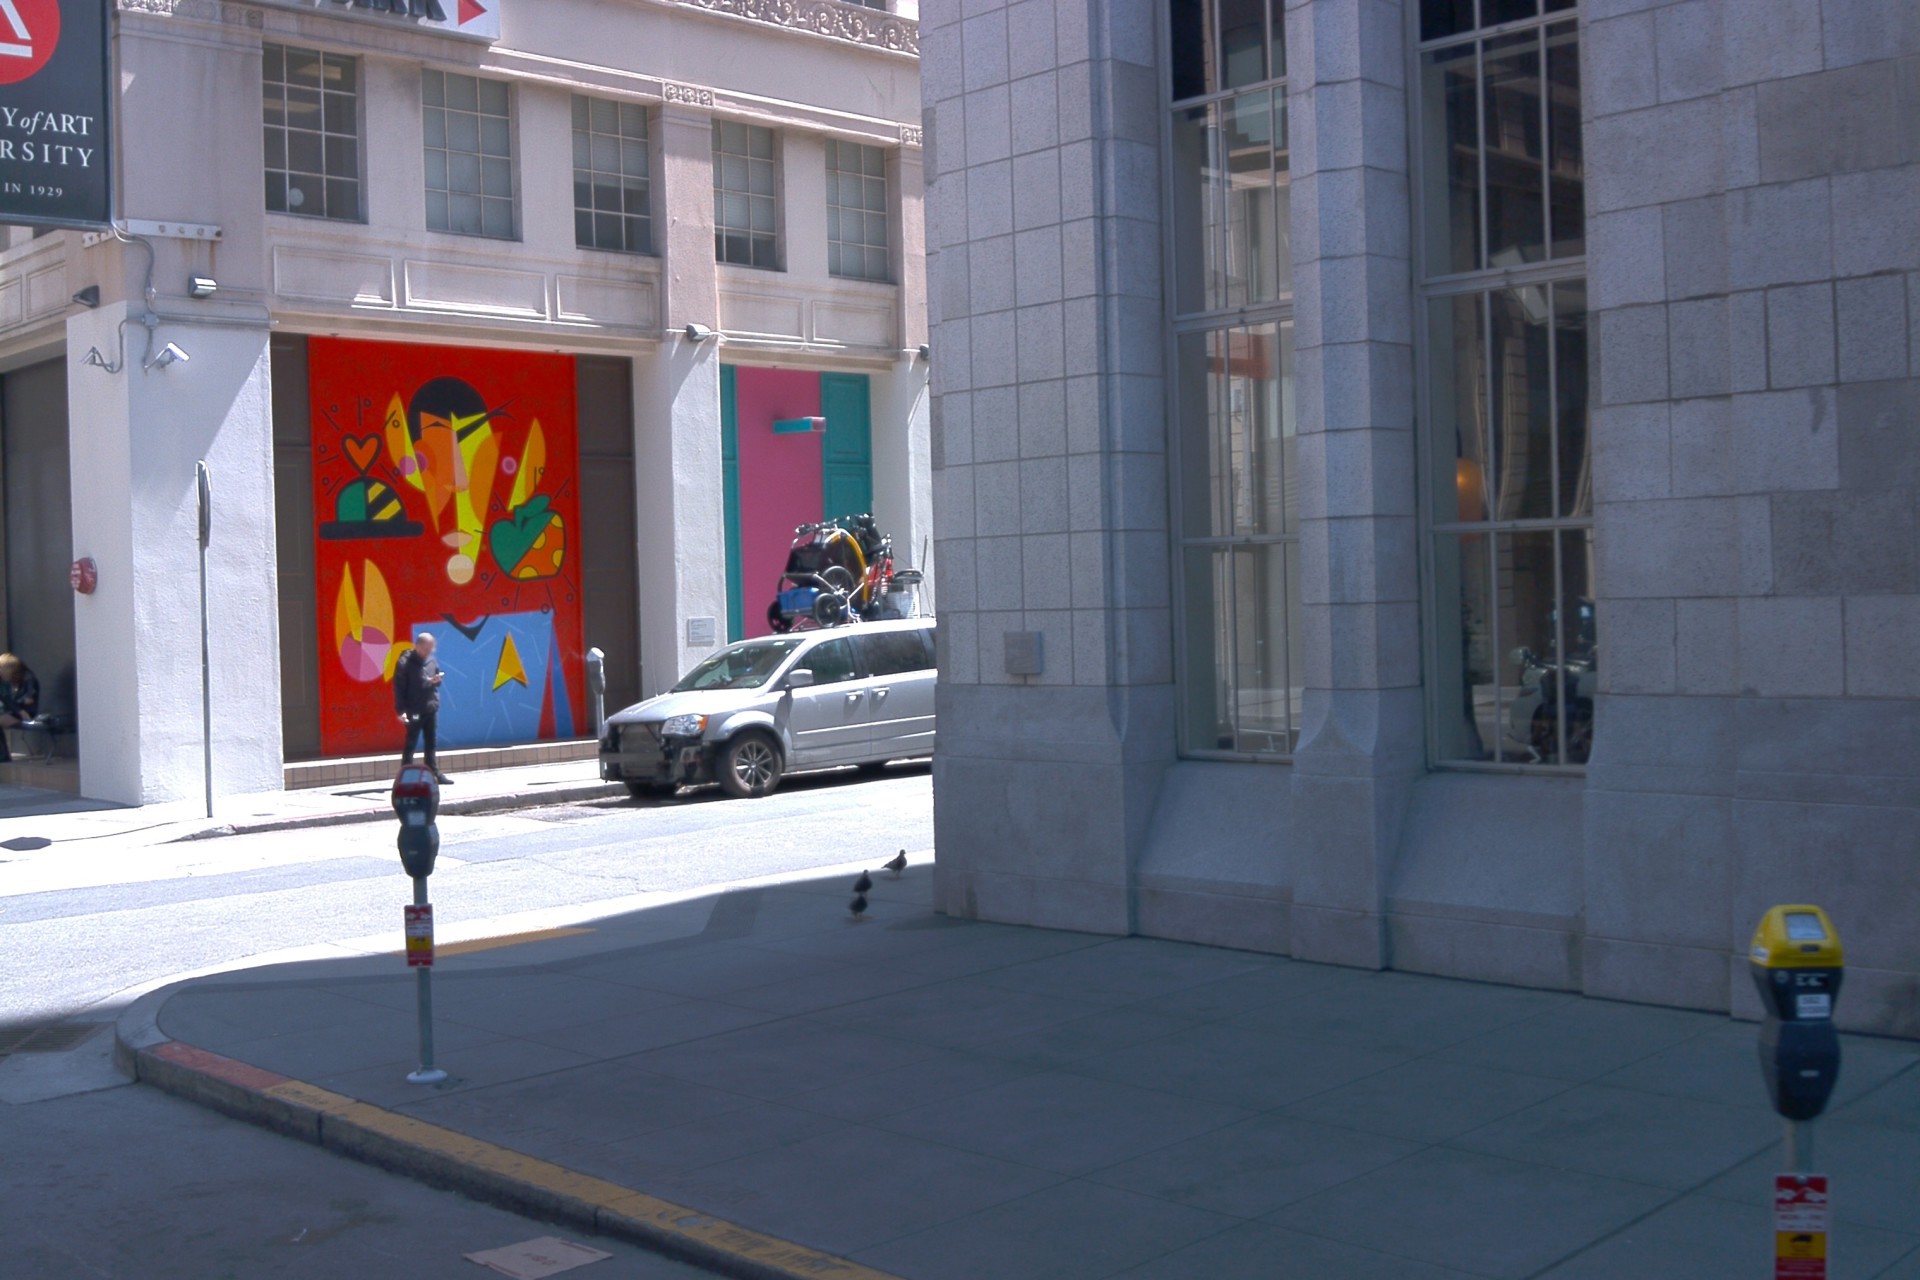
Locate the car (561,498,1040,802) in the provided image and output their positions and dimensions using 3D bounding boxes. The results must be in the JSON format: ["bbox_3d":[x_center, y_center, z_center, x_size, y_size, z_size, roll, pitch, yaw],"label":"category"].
[{"bbox_3d":[-1.654,0.068,22.761,2.318,2.980,4.990,0,1,44],"label":"car"}]

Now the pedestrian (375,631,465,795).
[{"bbox_3d":[-5.852,0.771,22.284,0.751,1.740,0.573,0,0,-44],"label":"pedestrian"}]
